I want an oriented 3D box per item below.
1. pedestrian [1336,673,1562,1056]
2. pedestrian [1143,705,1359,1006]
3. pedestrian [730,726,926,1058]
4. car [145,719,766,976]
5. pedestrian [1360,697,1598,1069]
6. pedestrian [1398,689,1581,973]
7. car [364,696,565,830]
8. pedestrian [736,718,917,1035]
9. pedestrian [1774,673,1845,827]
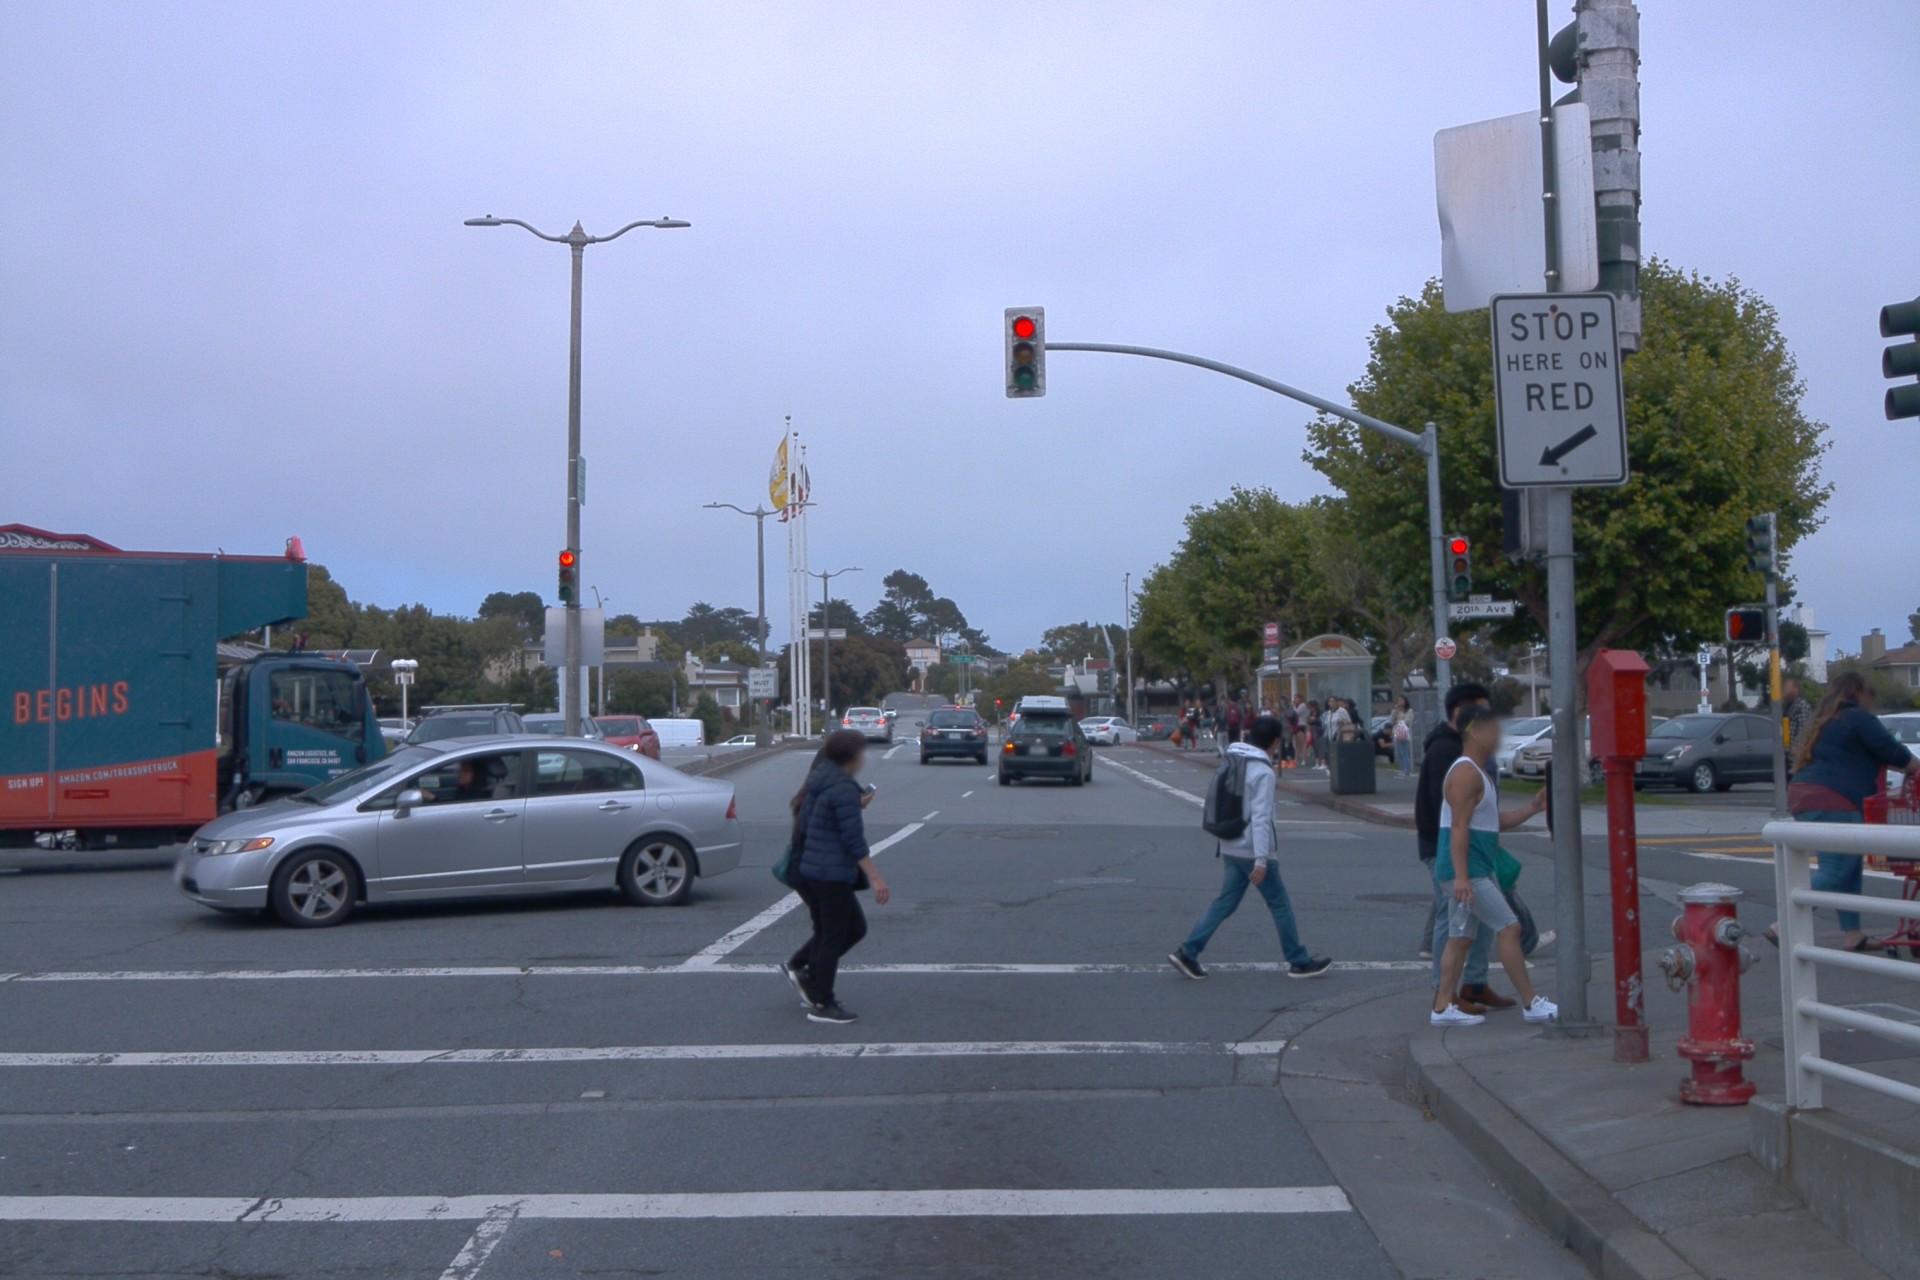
[{"bbox_3d":[2.539,1.105,10.621,1.007,1.830,0.936,0,1,22],"label":"pedestrian"},{"bbox_3d":[1.718,1.247,12.268,1.050,1.670,0.928,0,1,-9],"label":"pedestrian"},{"bbox_3d":[-0.699,1.302,10.839,0.994,1.650,0.667,0,1,-4],"label":"pedestrian"},{"bbox_3d":[-4.042,1.551,16.610,4.468,1.620,2.032,-1,1,-29],"label":"car"},{"bbox_3d":[2.522,1.130,9.959,1.016,1.670,0.736,0,1,23],"label":"pedestrian"},{"bbox_3d":[3.345,1.184,13.033,0.940,1.720,0.669,0,1,-7],"label":"pedestrian"},{"bbox_3d":[-8.239,1.997,34.633,2.080,1.920,4.561,0,1,3],"label":"car"},{"bbox_3d":[-0.745,1.278,11.336,0.963,1.660,0.601,0,1,-5],"label":"pedestrian"},{"bbox_3d":[10.870,1.392,26.304,0.621,1.900,0.739,1,1,43],"label":"pedestrian"}]
